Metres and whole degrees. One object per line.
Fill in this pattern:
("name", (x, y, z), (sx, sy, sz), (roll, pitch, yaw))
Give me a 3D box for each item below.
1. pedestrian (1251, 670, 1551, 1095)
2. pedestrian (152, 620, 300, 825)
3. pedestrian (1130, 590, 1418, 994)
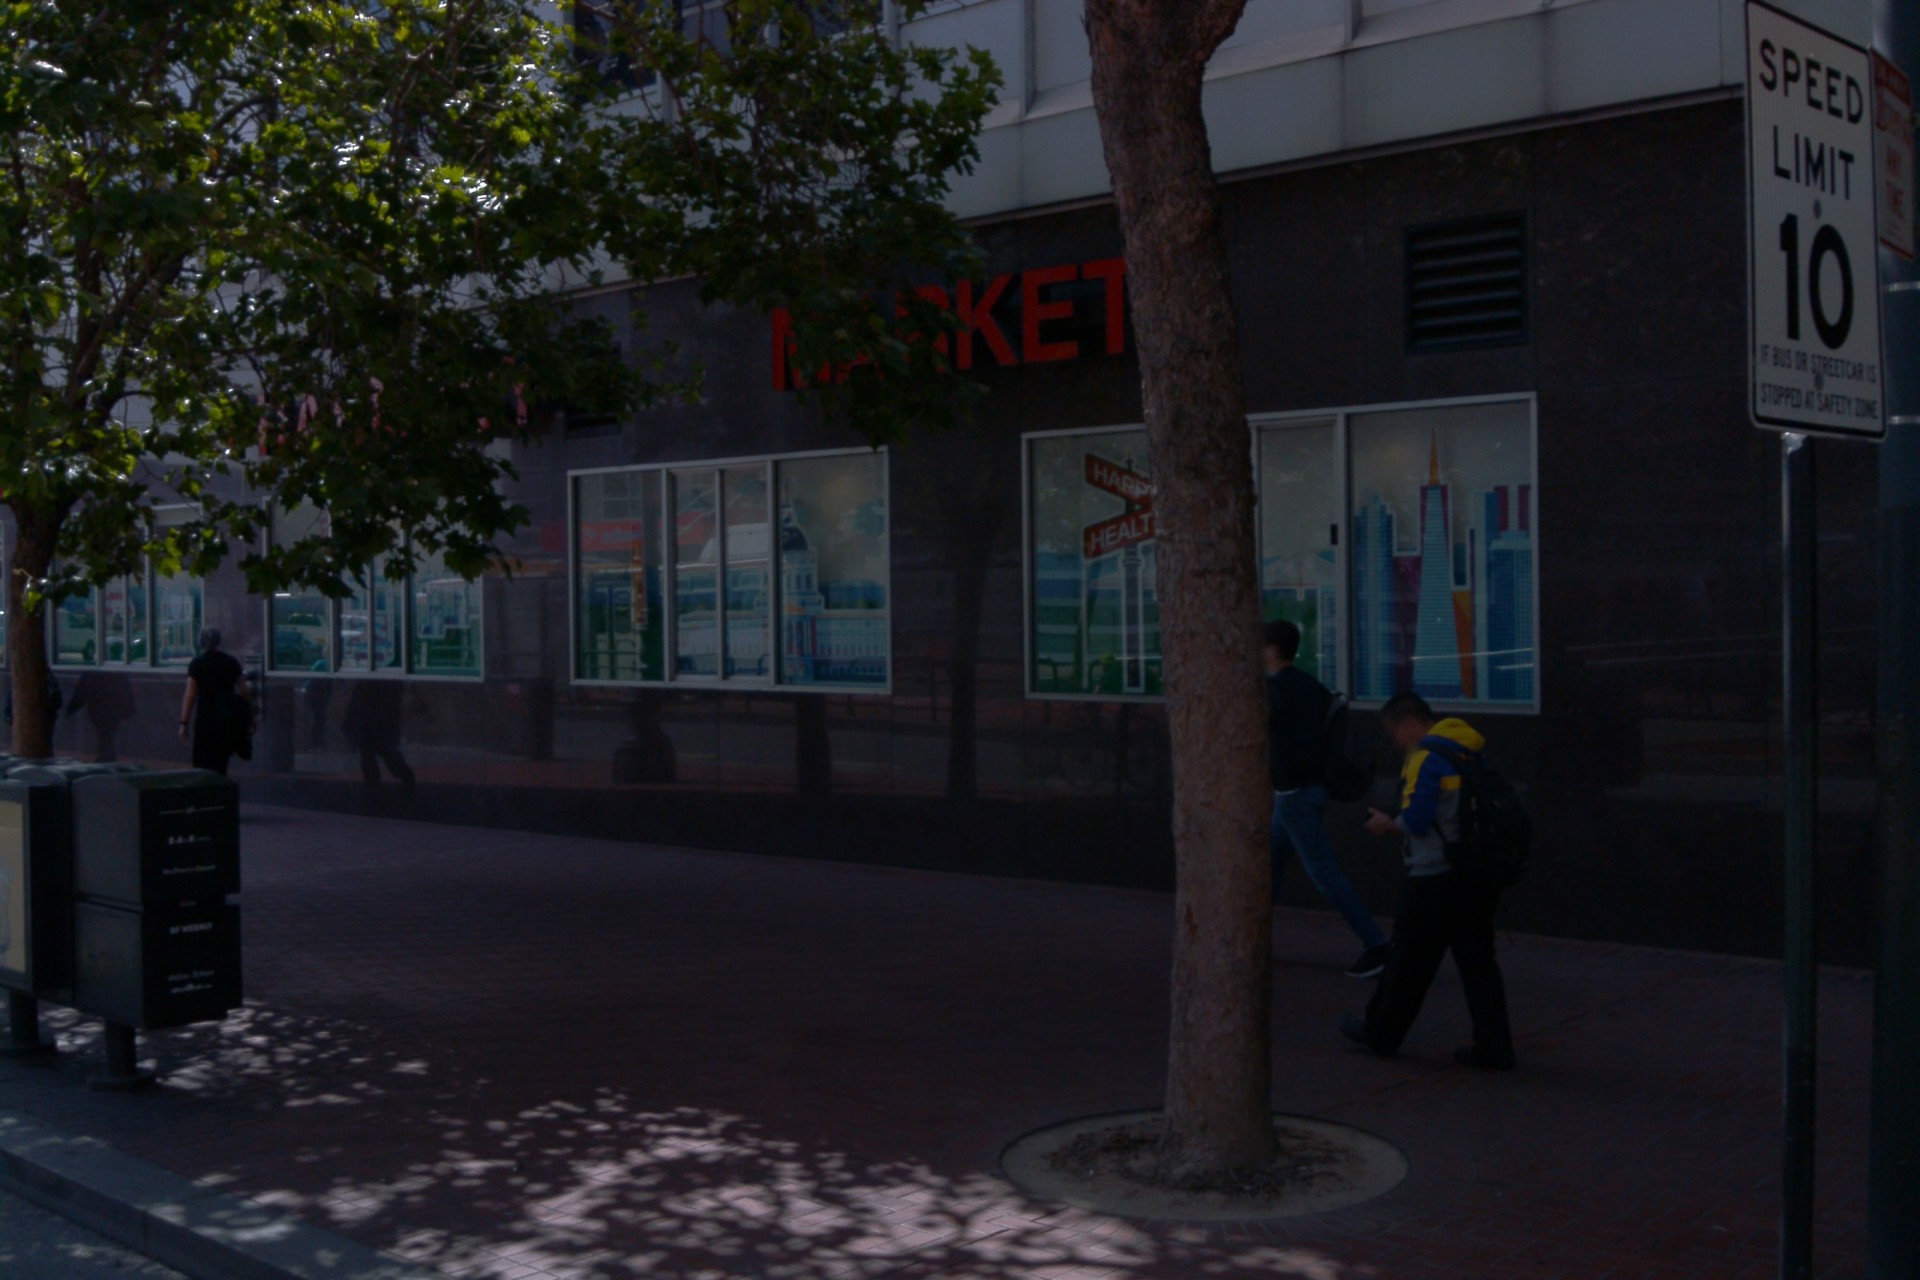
("pedestrian", (1.871, 0.972, 8.780), (0.706, 1.660, 1.029), (0, 0, -41))
("pedestrian", (-7.101, 0.760, 19.875), (1.192, 1.900, 0.912), (0, 0, 45))
("pedestrian", (1.647, 0.740, 10.780), (1.234, 1.980, 0.861), (0, 0, 35))
